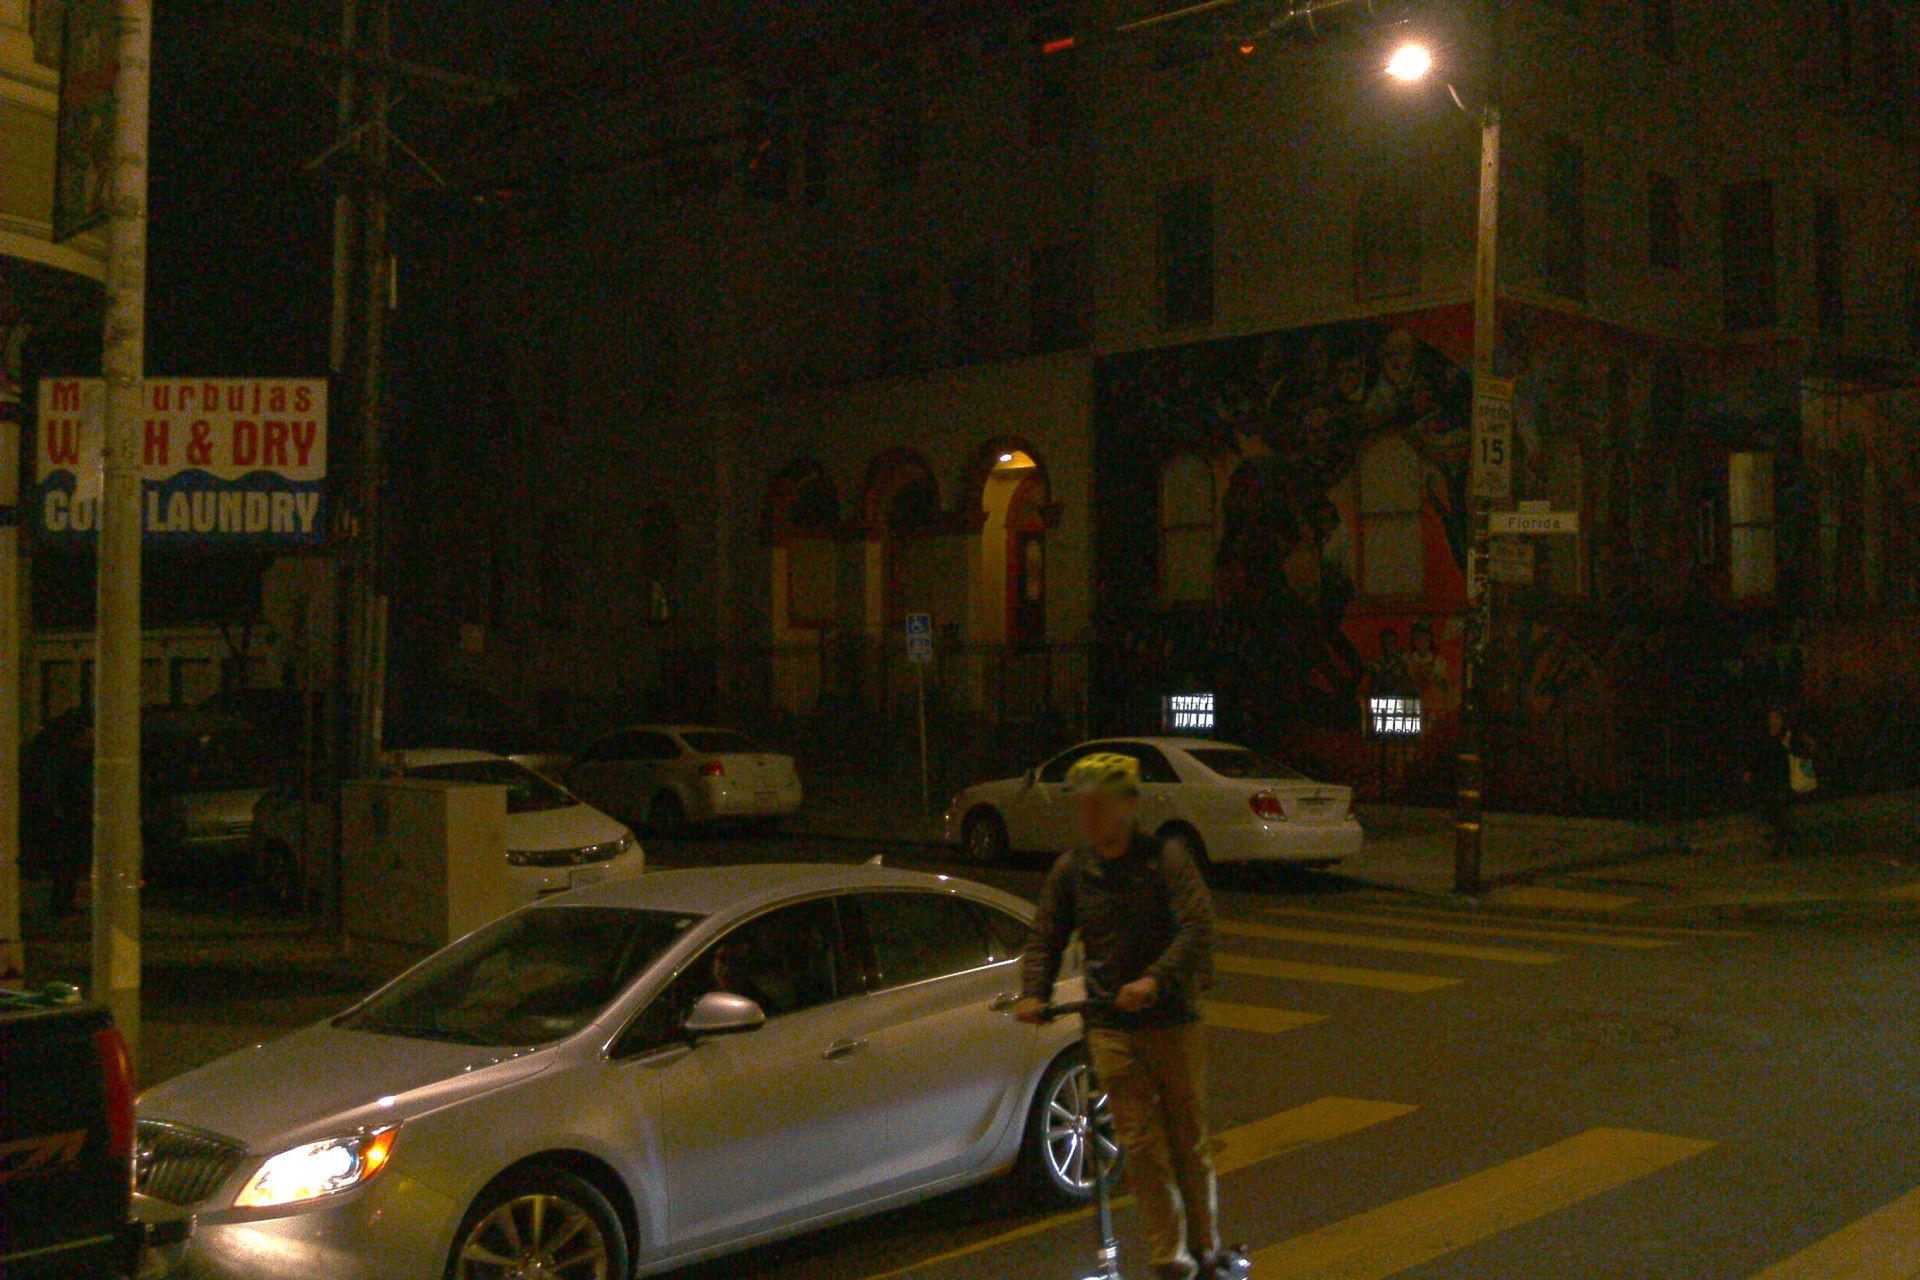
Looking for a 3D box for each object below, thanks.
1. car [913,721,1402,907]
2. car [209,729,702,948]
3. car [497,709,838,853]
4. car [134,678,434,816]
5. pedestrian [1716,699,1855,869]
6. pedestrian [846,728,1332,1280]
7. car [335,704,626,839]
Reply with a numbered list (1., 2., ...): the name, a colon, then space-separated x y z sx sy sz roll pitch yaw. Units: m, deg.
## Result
1. car: 1.989 1.734 22.029 2.249 1.540 4.811 1 0 -45
2. car: -4.631 1.654 18.672 4.684 1.490 2.131 1 0 45
3. car: -3.965 1.806 27.780 4.484 1.590 2.154 1 0 43
4. car: -11.585 1.732 35.420 5.593 2.030 2.552 1 0 45
5. pedestrian: 9.105 1.556 22.948 1.083 1.780 1.001 1 0 -38
6. pedestrian: 0.442 1.294 6.573 0.988 1.961 1.327 1 0 33
7. car: -7.225 1.892 31.092 4.412 1.720 2.202 1 0 45
